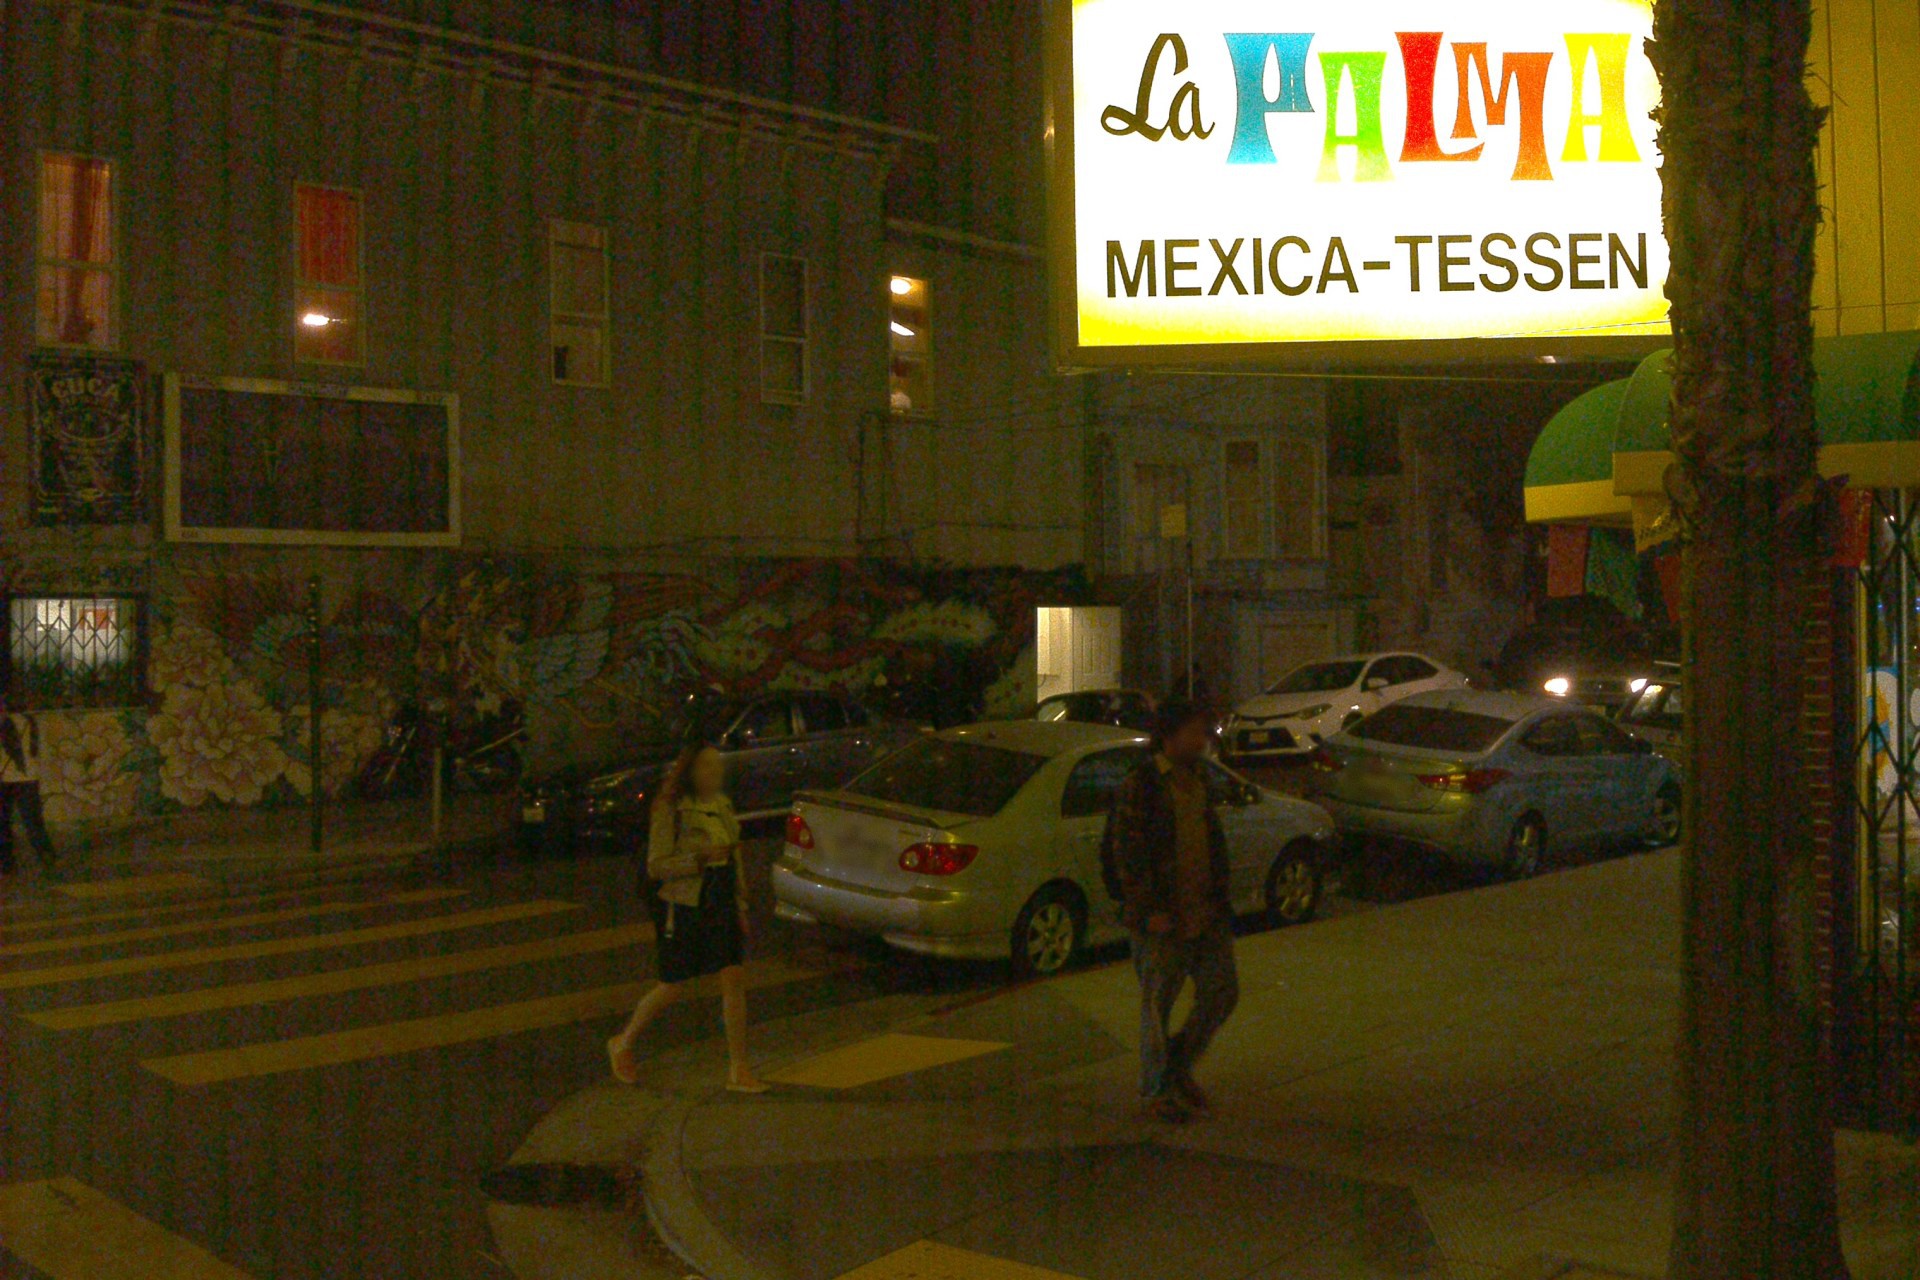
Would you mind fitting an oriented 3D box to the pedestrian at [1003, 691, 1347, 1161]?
[{"bbox_3d":[0.905,1.140,8.863,0.853,1.820,1.201,0,0,-41],"label":"pedestrian"}]

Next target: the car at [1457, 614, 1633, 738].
[{"bbox_3d":[9.631,0.565,33.838,2.183,1.860,4.963,0,-1,23],"label":"car"}]

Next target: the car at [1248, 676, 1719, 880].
[{"bbox_3d":[4.645,1.078,17.982,2.174,1.500,4.392,0,-1,42],"label":"car"}]

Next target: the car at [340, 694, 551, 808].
[{"bbox_3d":[-5.960,1.262,24.135,0.823,1.230,2.286,0,-1,44],"label":"car"}]

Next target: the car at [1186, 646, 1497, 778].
[{"bbox_3d":[5.446,0.953,29.184,2.123,1.690,4.737,0,-1,42],"label":"car"}]

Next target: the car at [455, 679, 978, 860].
[{"bbox_3d":[-2.335,1.197,20.972,2.222,1.570,4.960,0,-1,44],"label":"car"}]

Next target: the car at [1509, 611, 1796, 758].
[{"bbox_3d":[9.945,0.601,29.562,2.140,1.920,4.739,0,-1,42],"label":"car"}]

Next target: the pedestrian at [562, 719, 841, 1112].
[{"bbox_3d":[-1.247,1.262,9.949,1.132,1.721,0.756,0,0,40],"label":"pedestrian"}]

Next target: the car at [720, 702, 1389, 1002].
[{"bbox_3d":[0.791,1.259,13.977,2.055,1.590,4.526,0,-1,43],"label":"car"}]

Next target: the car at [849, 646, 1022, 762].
[{"bbox_3d":[-0.325,0.894,29.916,2.538,1.610,0.969,1,-1,-45],"label":"car"}]

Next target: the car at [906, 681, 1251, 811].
[{"bbox_3d":[1.494,1.215,25.078,2.016,1.390,4.020,0,-1,45],"label":"car"}]
